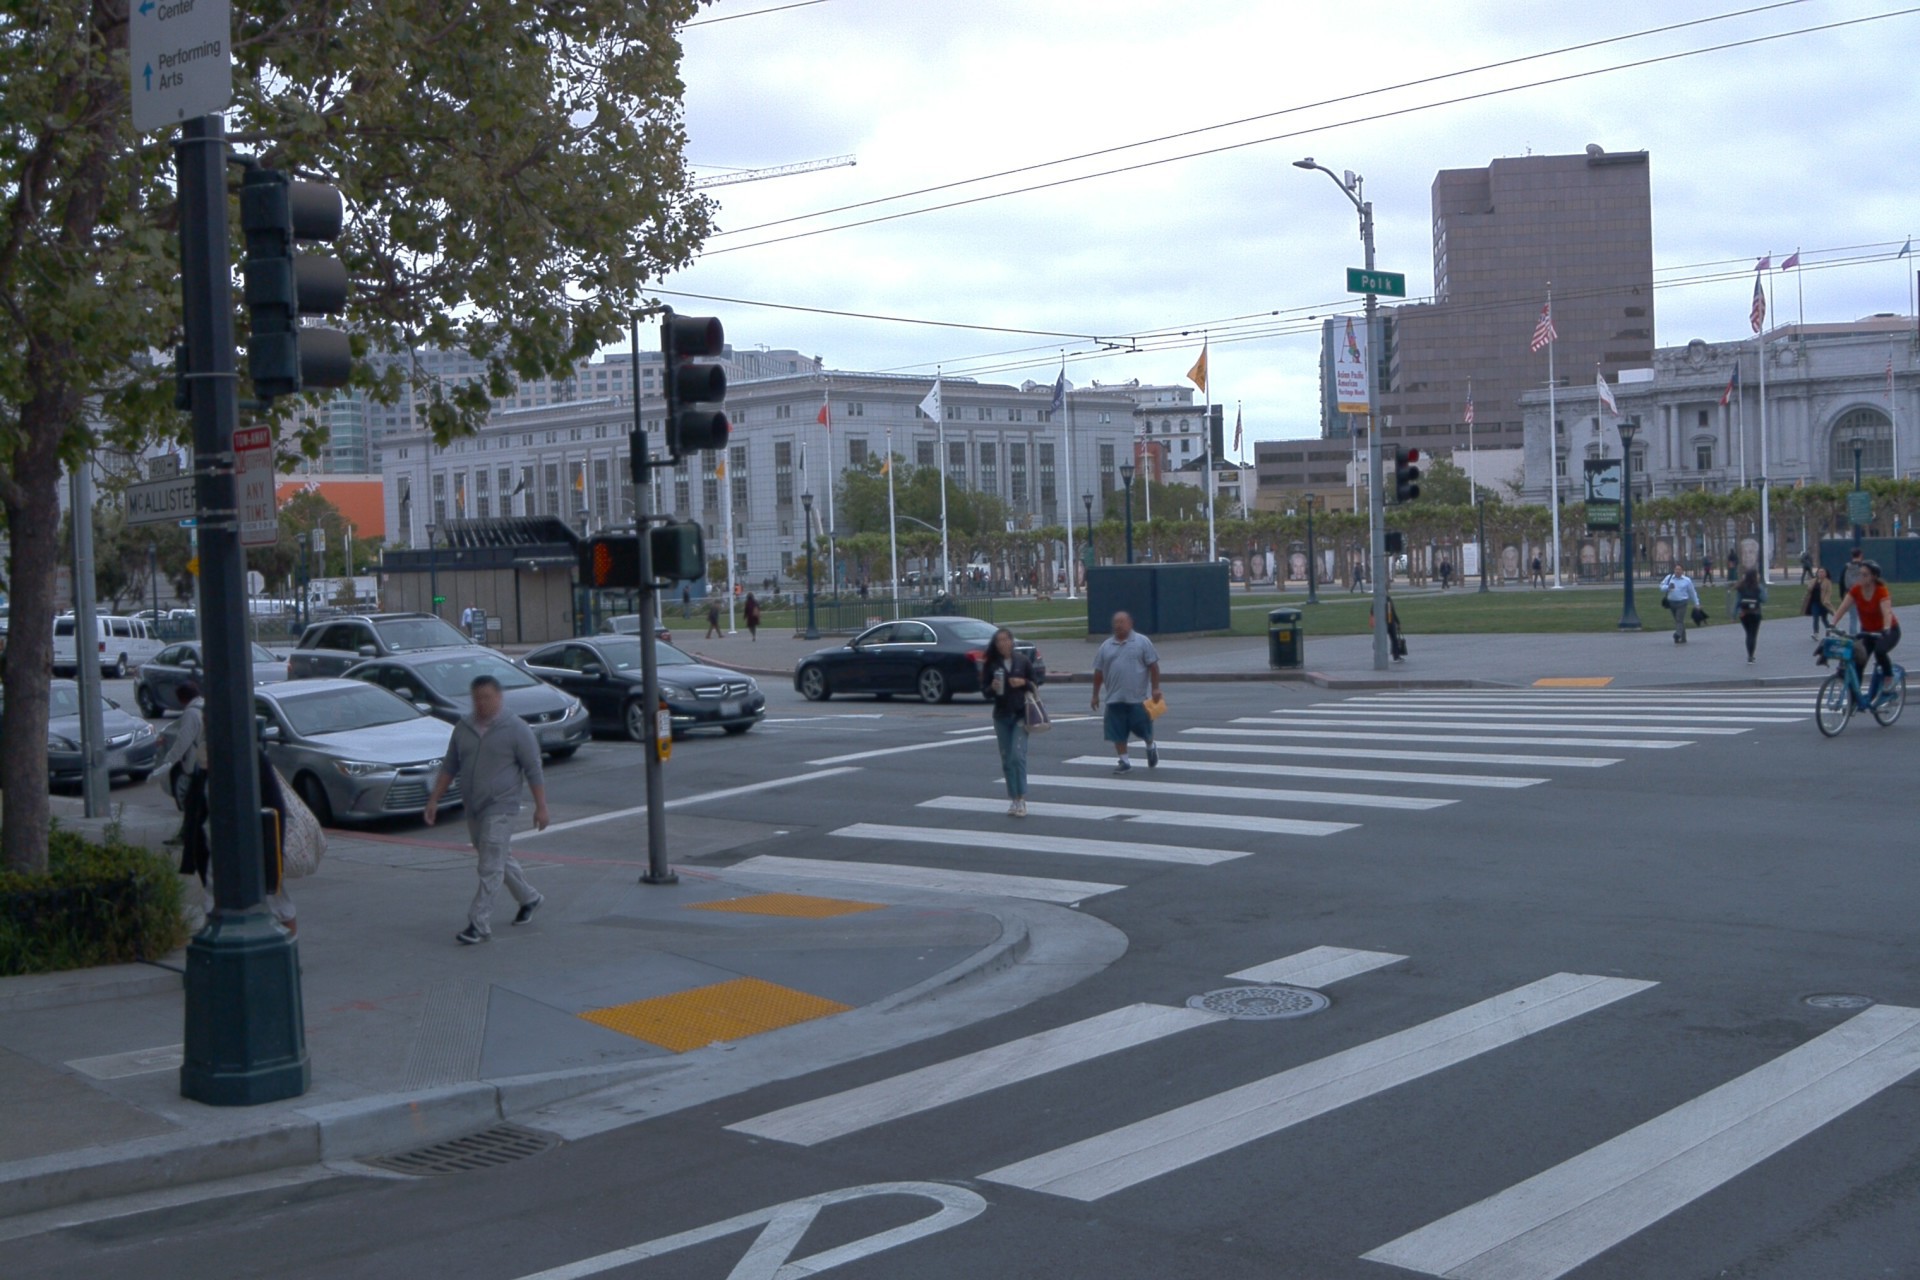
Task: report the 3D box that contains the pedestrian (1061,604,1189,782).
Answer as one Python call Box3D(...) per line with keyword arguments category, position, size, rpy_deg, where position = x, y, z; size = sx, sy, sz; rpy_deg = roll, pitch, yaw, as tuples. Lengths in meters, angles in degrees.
Box3D(category="pedestrian", position=(1.706, 0.518, 21.219), size=(0.994, 1.764, 1.162), rpy_deg=(0, 1, 23))

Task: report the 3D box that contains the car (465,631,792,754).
Box3D(category="car", position=(-4.594, 0.655, 28.222), size=(4.497, 1.490, 2.027), rpy_deg=(1, 1, 42))

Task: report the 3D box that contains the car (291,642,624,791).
Box3D(category="car", position=(-6.437, 0.889, 26.164), size=(2.084, 1.630, 4.523), rpy_deg=(-1, 1, -44))

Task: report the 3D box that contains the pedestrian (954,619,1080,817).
Box3D(category="pedestrian", position=(0.527, 0.675, 18.622), size=(0.910, 1.724, 0.993), rpy_deg=(0, 1, 16))

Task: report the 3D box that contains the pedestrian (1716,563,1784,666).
Box3D(category="pedestrian", position=(13.535, -0.444, 35.367), size=(0.789, 1.734, 0.970), rpy_deg=(1, 1, 41))

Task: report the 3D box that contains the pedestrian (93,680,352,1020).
Box3D(category="pedestrian", position=(-4.076, 1.121, 11.485), size=(0.931, 1.754, 1.040), rpy_deg=(0, 1, 12))

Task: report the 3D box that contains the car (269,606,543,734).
Box3D(category="car", position=(-8.979, 0.408, 33.252), size=(4.650, 1.900, 2.138), rpy_deg=(1, 1, 44))

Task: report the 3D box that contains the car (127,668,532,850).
Box3D(category="car", position=(-6.885, 1.175, 22.251), size=(4.754, 1.590, 2.139), rpy_deg=(1, 1, 44))

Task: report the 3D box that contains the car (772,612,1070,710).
Box3D(category="car", position=(-0.723, 0.290, 35.044), size=(4.895, 1.520, 2.284), rpy_deg=(1, 1, 44))

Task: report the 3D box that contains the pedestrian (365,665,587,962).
Box3D(category="pedestrian", position=(-3.045, 1.052, 13.052), size=(0.851, 1.742, 1.083), rpy_deg=(1, 1, 29))

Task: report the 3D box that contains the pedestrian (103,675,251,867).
Box3D(category="pedestrian", position=(-7.085, 1.161, 18.728), size=(0.855, 1.657, 1.013), rpy_deg=(0, 1, 8))
